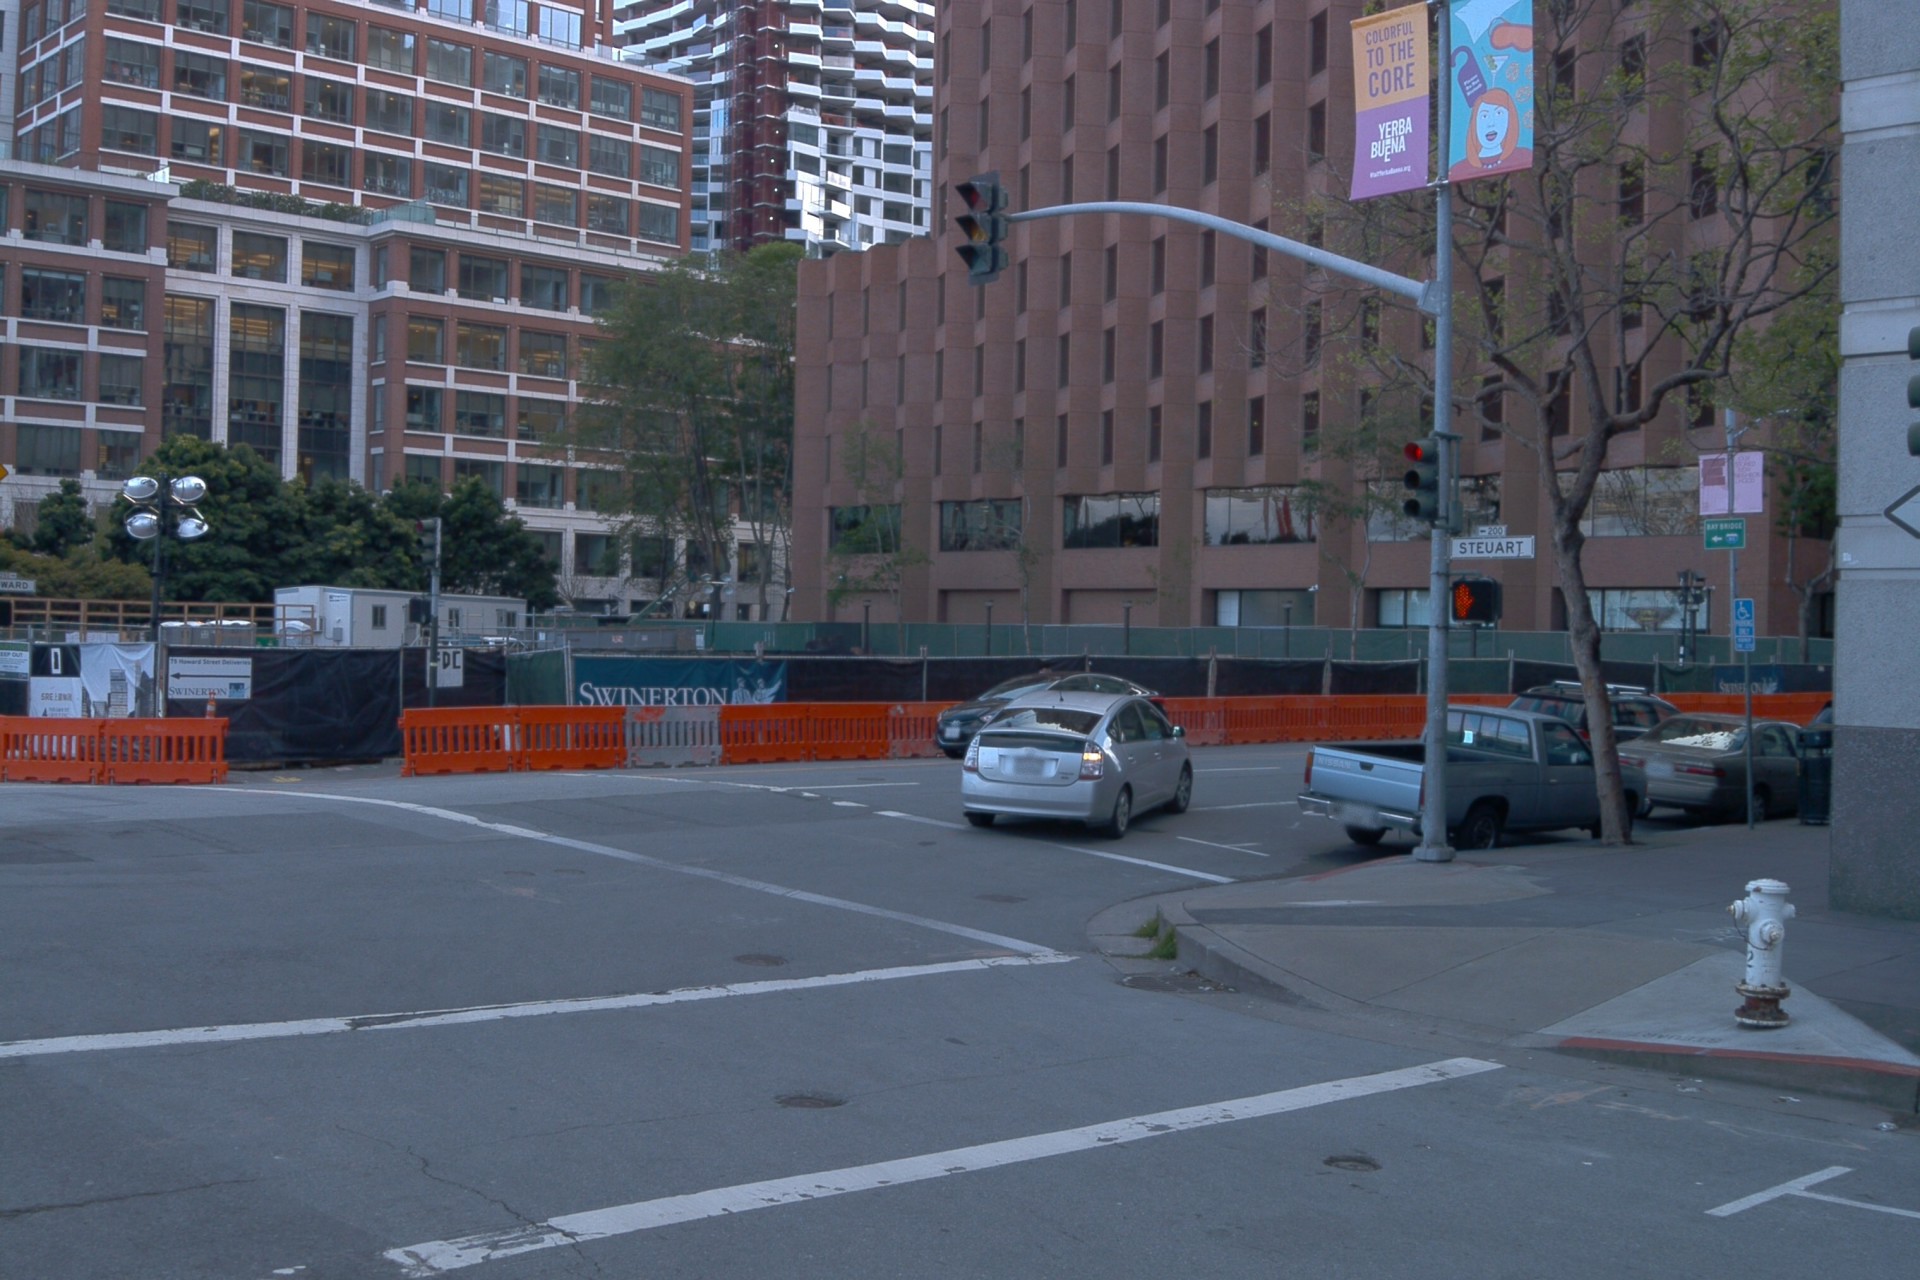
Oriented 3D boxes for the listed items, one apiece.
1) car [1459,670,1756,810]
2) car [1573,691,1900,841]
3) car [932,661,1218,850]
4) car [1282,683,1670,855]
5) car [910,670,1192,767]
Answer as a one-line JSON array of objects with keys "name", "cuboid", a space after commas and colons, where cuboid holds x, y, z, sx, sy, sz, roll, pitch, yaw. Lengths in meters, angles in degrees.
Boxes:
[{"name": "car", "cuboid": [9.125, 1.326, 28.702, 4.208, 1.760, 2.035, 0, 0, -40]}, {"name": "car", "cuboid": [10.154, 1.552, 26.605, 4.581, 1.660, 2.108, 0, 0, -42]}, {"name": "car", "cuboid": [1.418, 1.190, 23.025, 2.019, 1.820, 4.420, 1, 0, 20]}, {"name": "car", "cuboid": [5.759, 1.324, 22.508, 4.672, 1.610, 1.863, 0, 0, -42]}, {"name": "car", "cuboid": [1.561, 1.237, 33.687, 4.607, 1.430, 1.996, 0, 0, -44]}]
